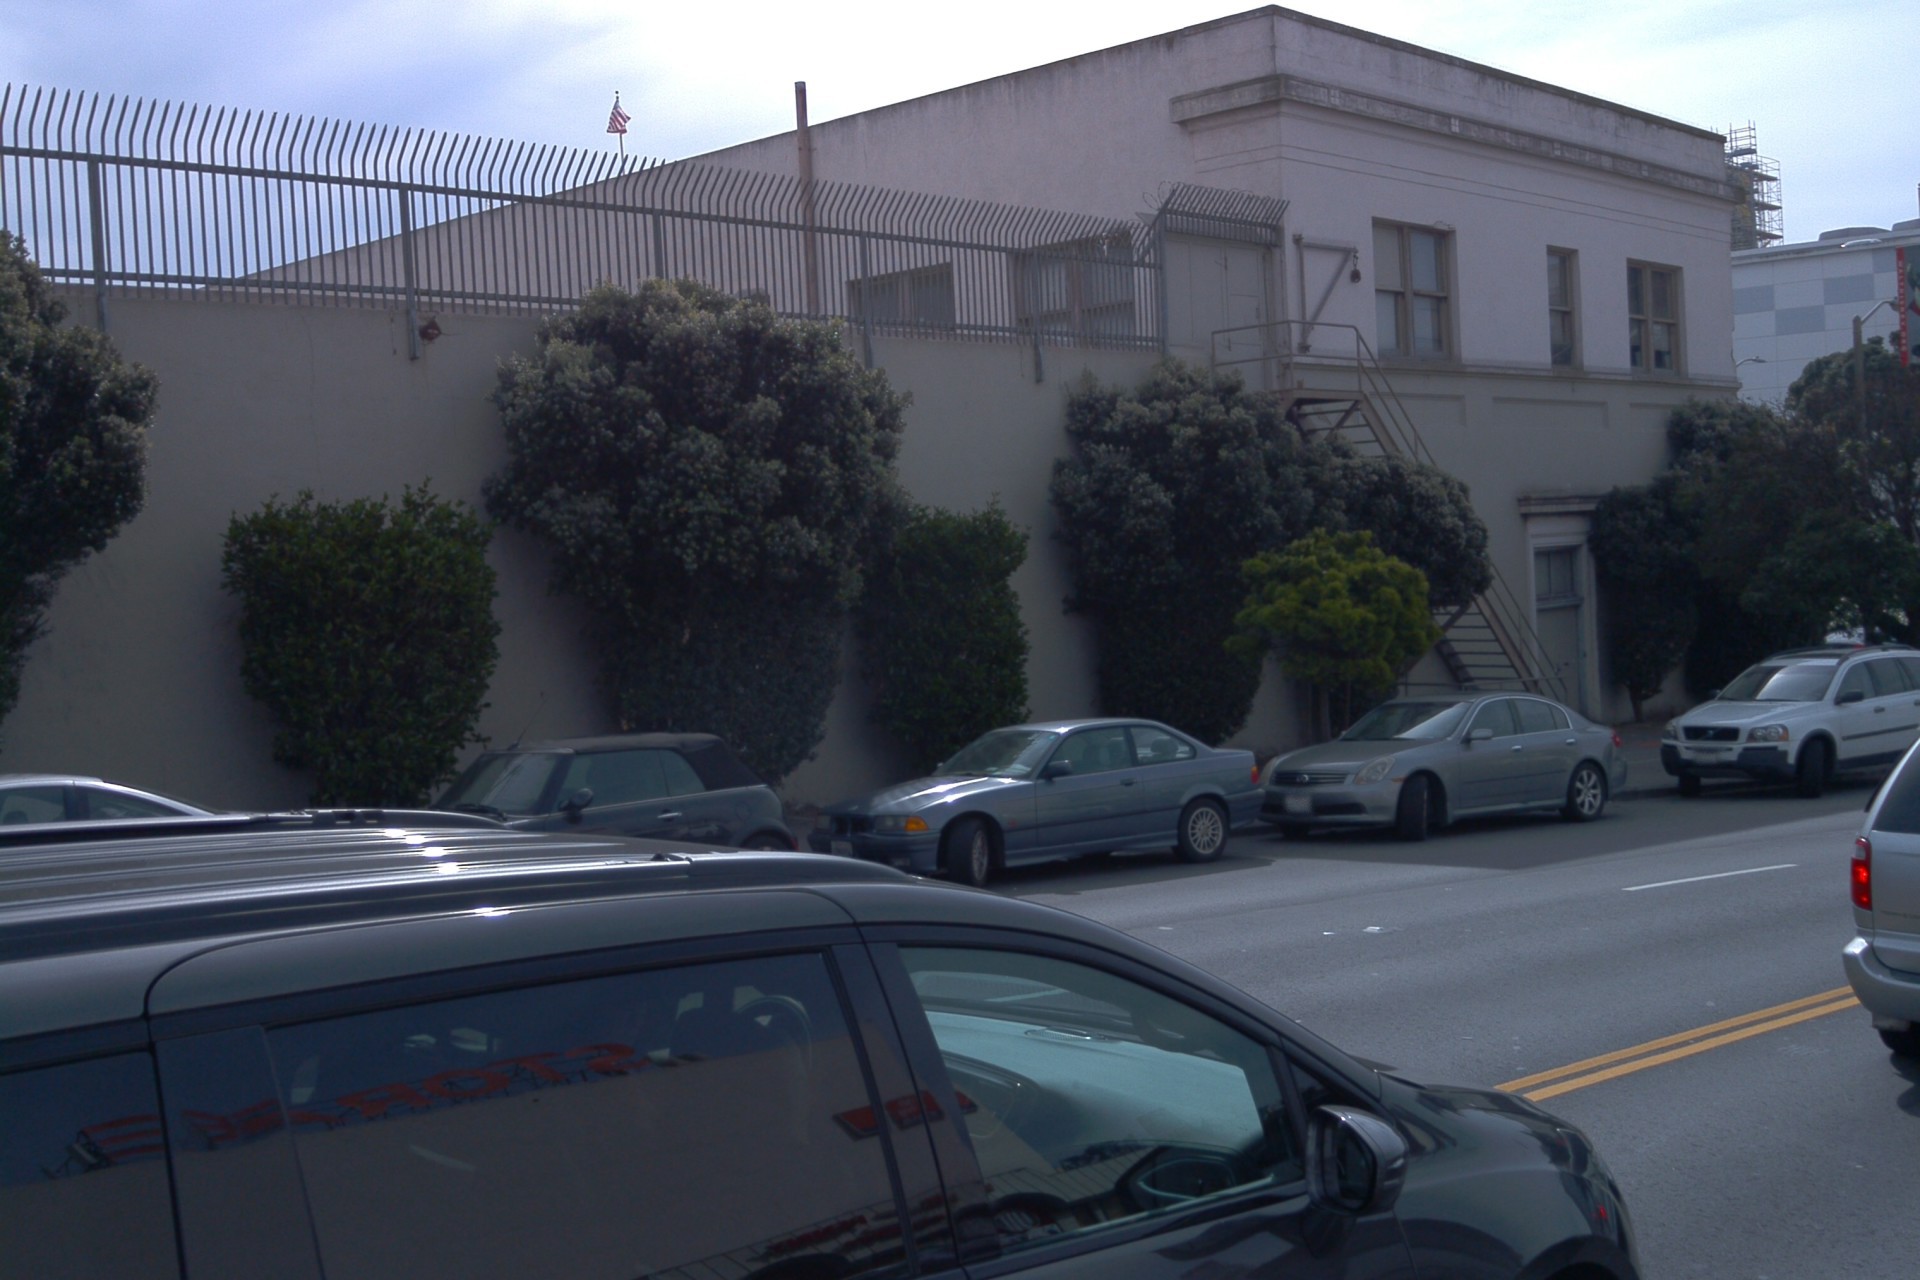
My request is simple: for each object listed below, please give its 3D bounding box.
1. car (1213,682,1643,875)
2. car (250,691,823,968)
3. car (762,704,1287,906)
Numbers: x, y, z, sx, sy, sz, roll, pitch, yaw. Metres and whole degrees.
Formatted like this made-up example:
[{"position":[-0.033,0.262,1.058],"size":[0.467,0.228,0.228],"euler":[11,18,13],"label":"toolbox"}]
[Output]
[{"position":[5.011,1.355,21.683],"size":[4.687,1.660,2.019],"euler":[-1,1,-41],"label":"car"},{"position":[-2.991,1.253,15.014],"size":[1.796,1.600,3.729],"euler":[1,1,44],"label":"car"},{"position":[0.653,1.374,18.441],"size":[4.448,1.390,2.035],"euler":[-1,1,-39],"label":"car"}]
